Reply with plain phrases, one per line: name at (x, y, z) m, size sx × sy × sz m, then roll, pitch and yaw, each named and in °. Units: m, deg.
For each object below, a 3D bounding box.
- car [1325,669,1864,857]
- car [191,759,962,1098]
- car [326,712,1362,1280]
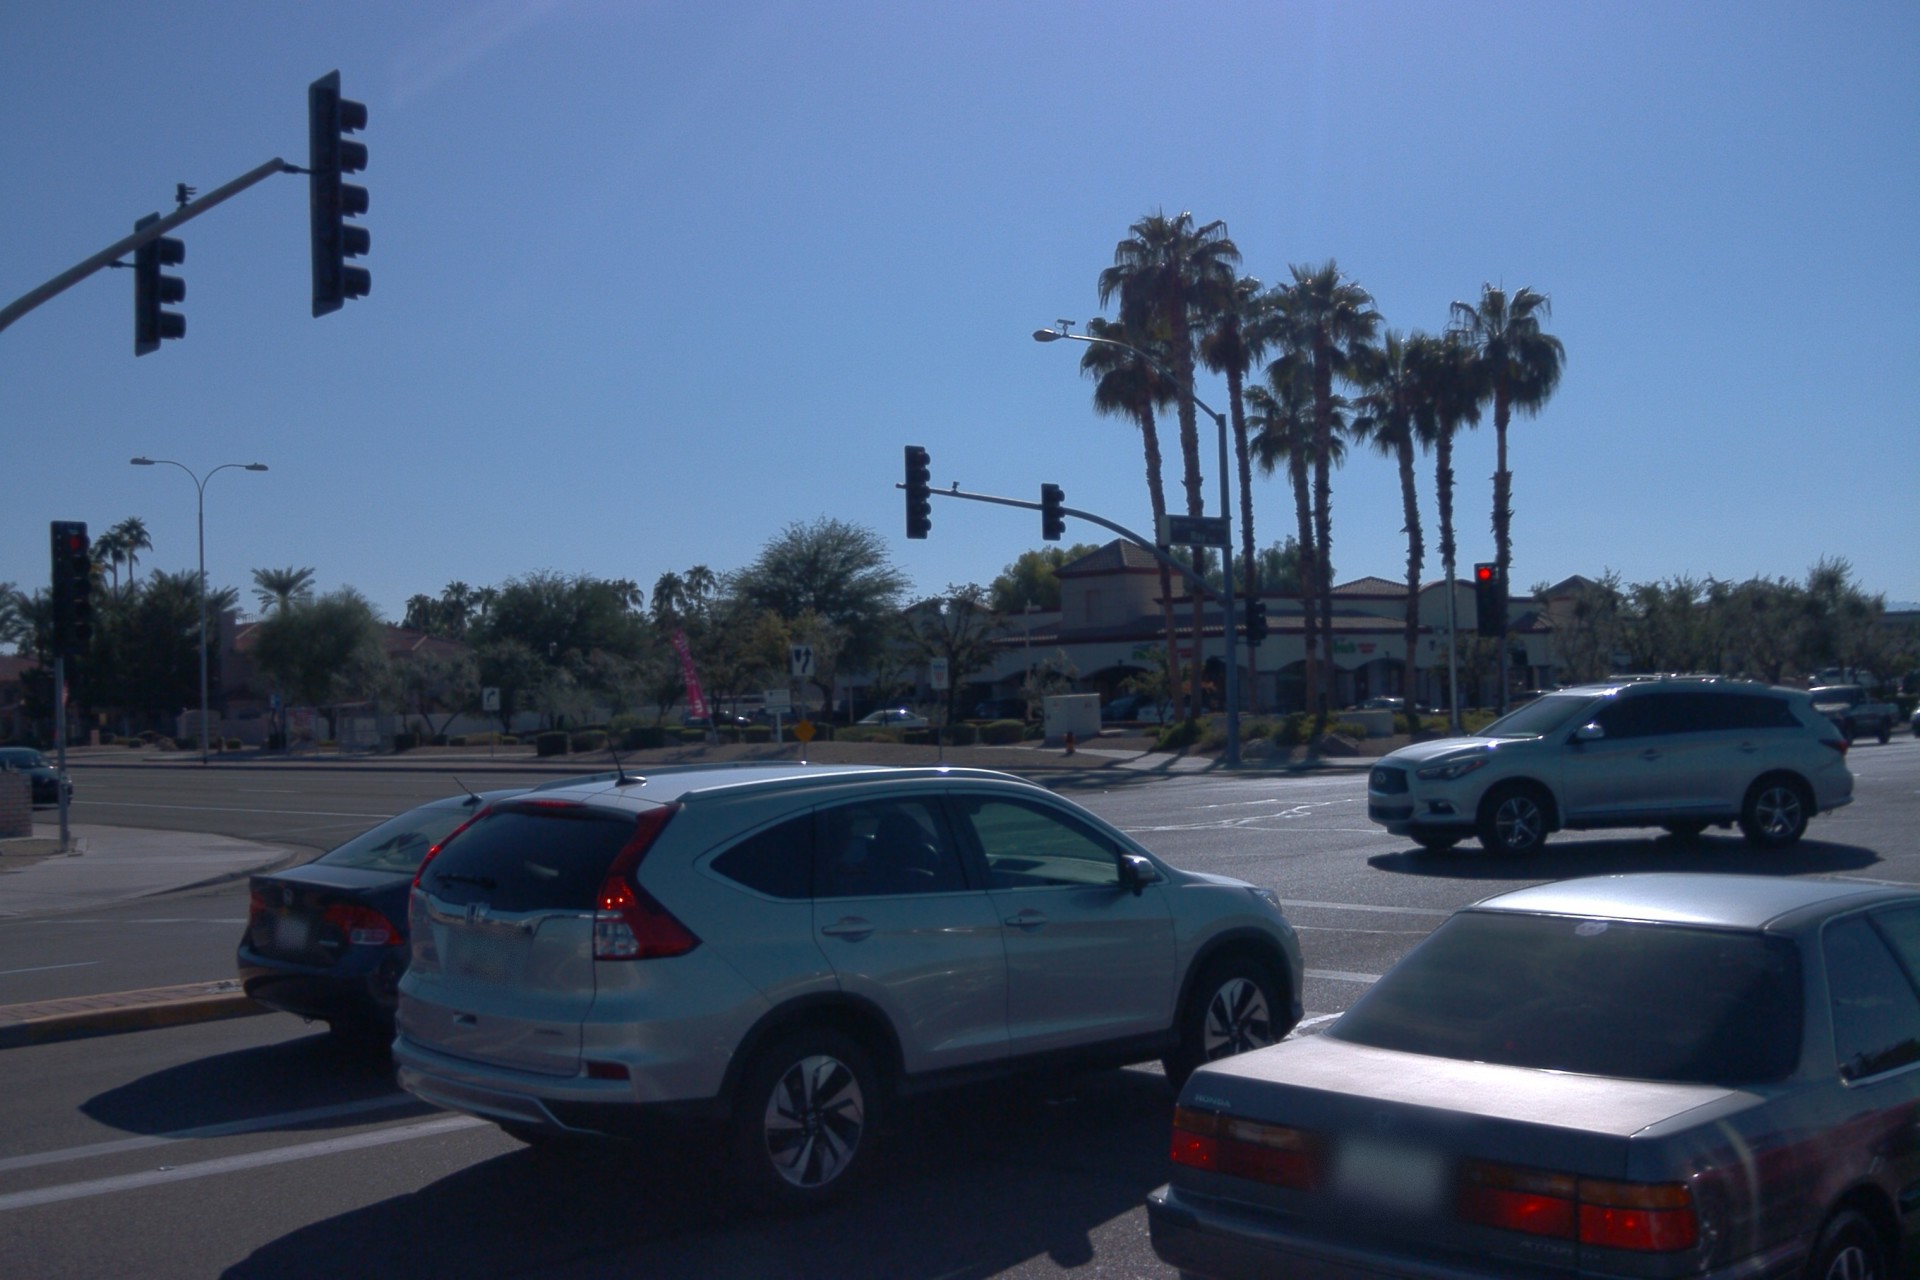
car at (6.612, 1.214, 21.873) m, size 5.055 × 1.780 × 2.076 m, roll 0°, pitch -1°, yaw -14°
car at (-2.159, 1.555, 12.496) m, size 4.179 × 1.470 × 1.908 m, roll 0°, pitch -1°, yaw -44°
car at (-0.308, 1.293, 9.286) m, size 4.402 × 1.820 × 1.973 m, roll 0°, pitch -1°, yaw -45°
